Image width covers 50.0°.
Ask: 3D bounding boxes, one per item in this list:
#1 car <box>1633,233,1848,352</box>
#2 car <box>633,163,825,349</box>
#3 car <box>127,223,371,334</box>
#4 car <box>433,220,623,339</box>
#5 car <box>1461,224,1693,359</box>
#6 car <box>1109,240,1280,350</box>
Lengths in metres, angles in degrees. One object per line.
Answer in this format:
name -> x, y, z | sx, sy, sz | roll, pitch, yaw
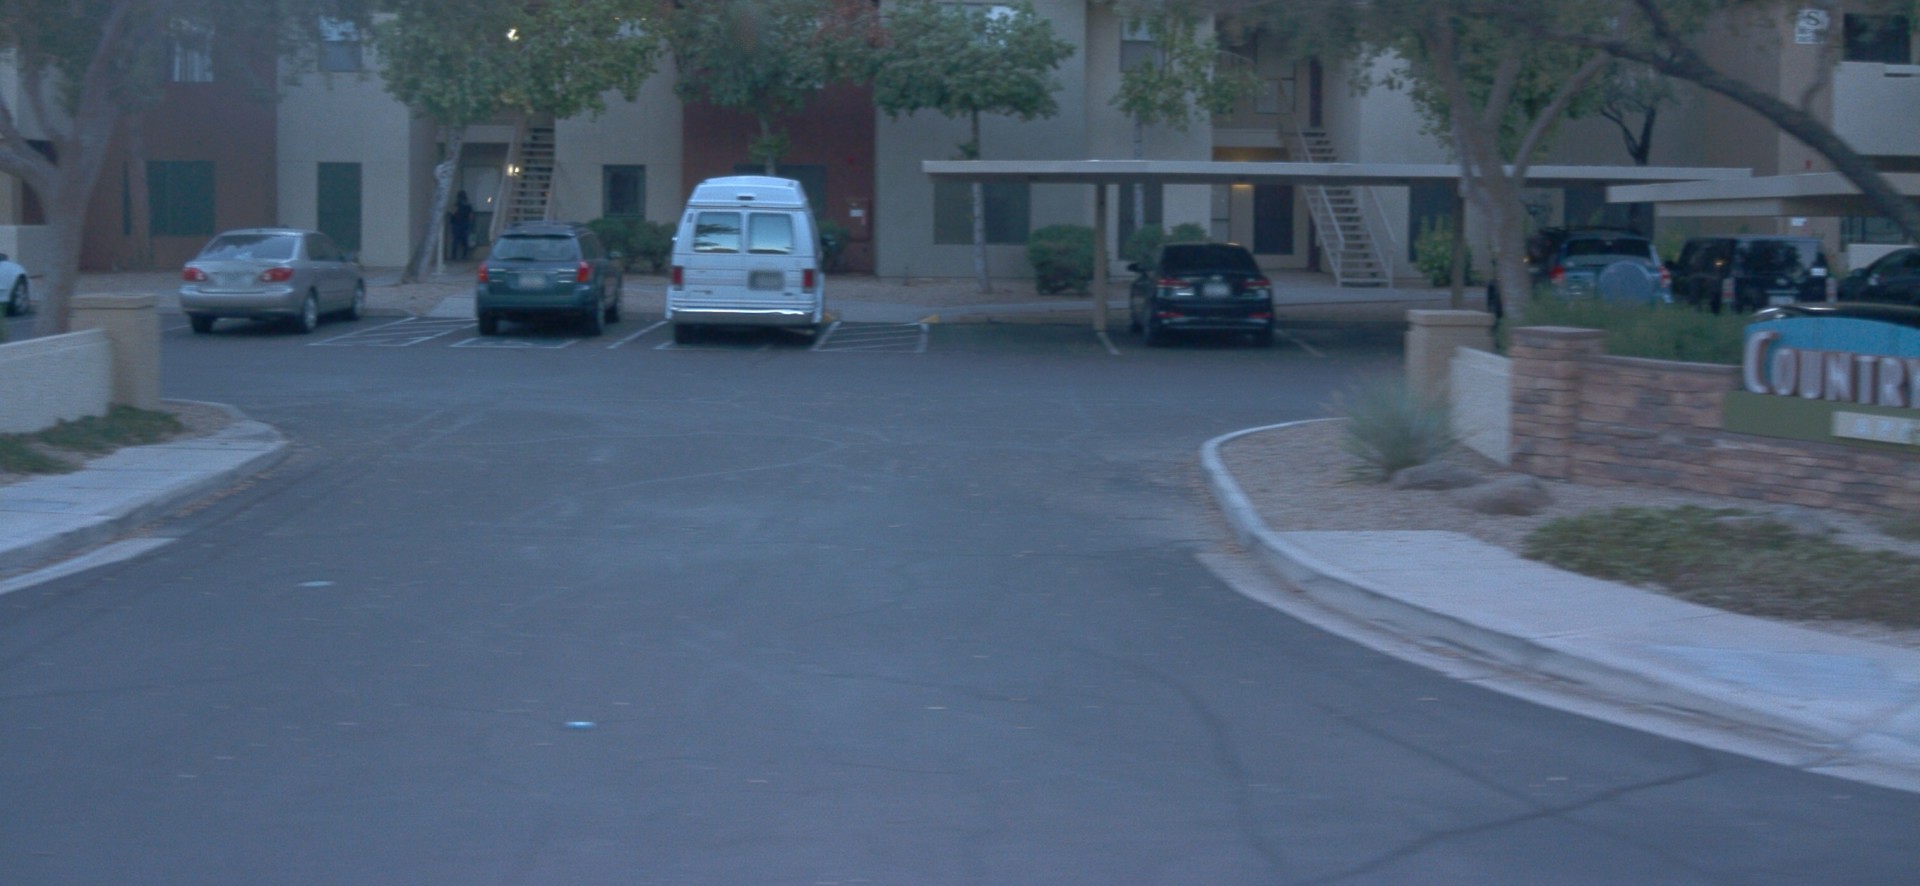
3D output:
car -> 11.445, -2.295, 30.504 | 1.787, 1.623, 4.165 | 0, 5, 3
car -> -3.211, -2.739, 29.777 | 2.459, 2.430, 5.398 | 0, 5, -3
car -> -10.297, -2.475, 30.230 | 2.039, 1.493, 4.686 | 0, 5, -1
car -> -6.255, -2.467, 30.347 | 2.053, 1.613, 4.621 | 0, 5, -3
car -> 8.783, -2.255, 29.753 | 2.054, 1.782, 4.557 | 0, 5, 1
car -> 3.316, -2.205, 29.873 | 1.931, 1.444, 4.308 | 0, 5, -1
